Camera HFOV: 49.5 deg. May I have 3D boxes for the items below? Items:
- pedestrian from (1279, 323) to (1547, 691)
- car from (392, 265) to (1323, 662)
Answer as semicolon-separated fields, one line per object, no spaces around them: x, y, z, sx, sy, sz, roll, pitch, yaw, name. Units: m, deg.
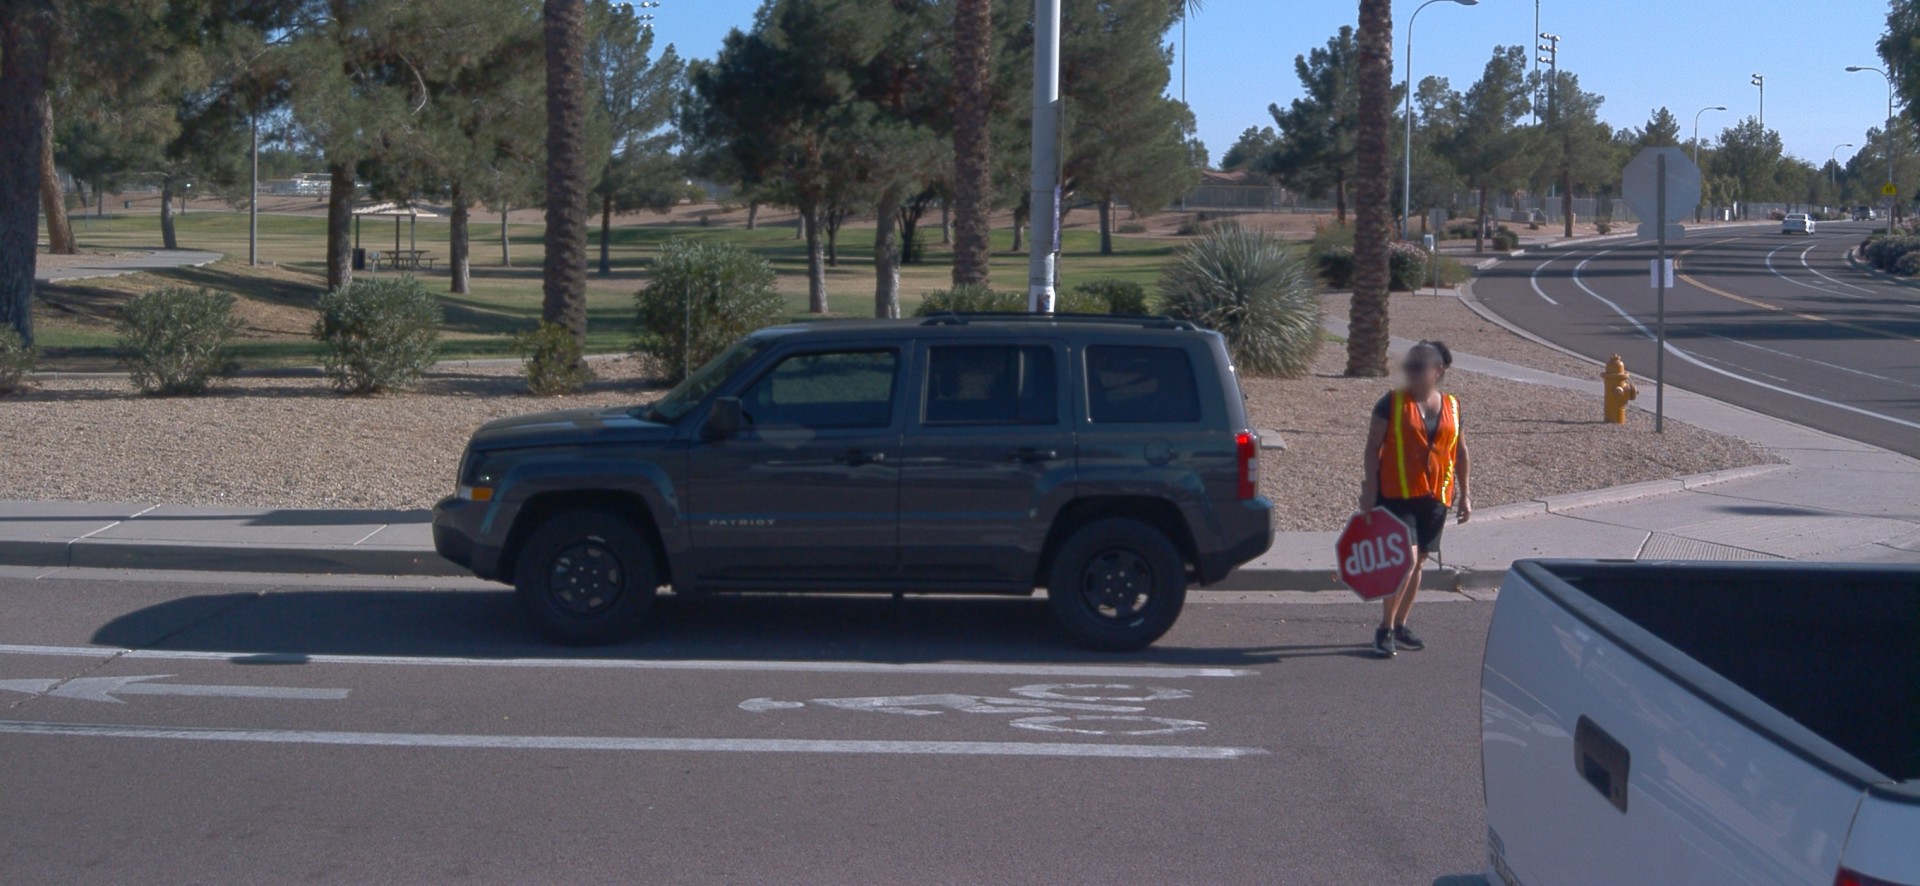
2.285;0.271;10.578;0.958;1.696;0.937;0;3;-21;pedestrian
-0.508;0.020;11.199;4.511;1.844;2.127;0;4;-3;car
